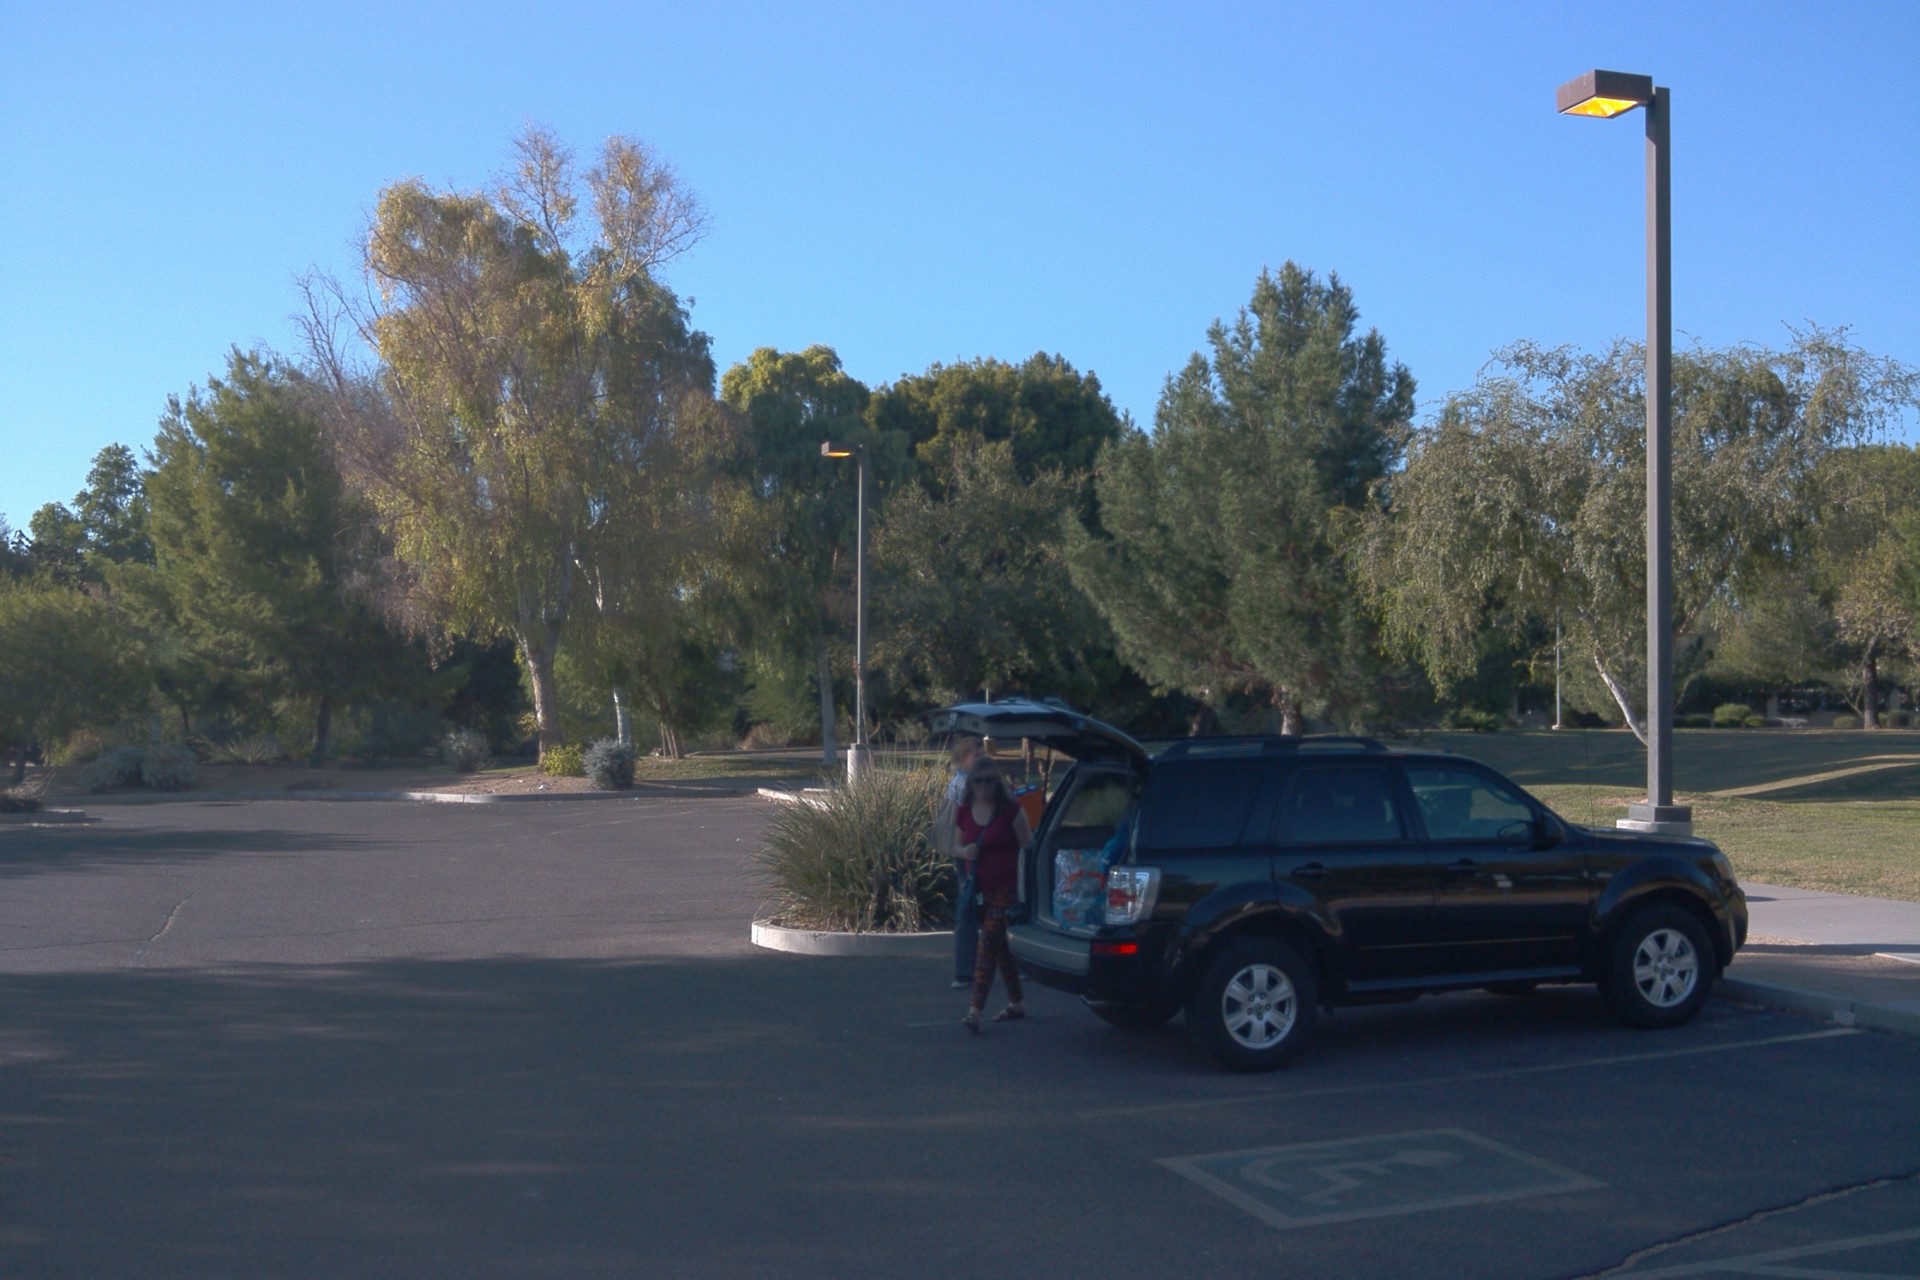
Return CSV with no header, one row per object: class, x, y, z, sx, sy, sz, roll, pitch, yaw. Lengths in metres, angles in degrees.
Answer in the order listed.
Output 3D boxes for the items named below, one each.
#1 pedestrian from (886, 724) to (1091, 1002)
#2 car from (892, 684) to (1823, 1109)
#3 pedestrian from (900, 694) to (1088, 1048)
pedestrian,0.198,1.486,14.297,1.001,1.790,0.999,0,-1,41
car,2.236,1.313,12.012,4.875,2.100,2.065,0,-1,-17
pedestrian,0.219,1.353,12.623,0.892,2.040,0.885,0,-1,20
